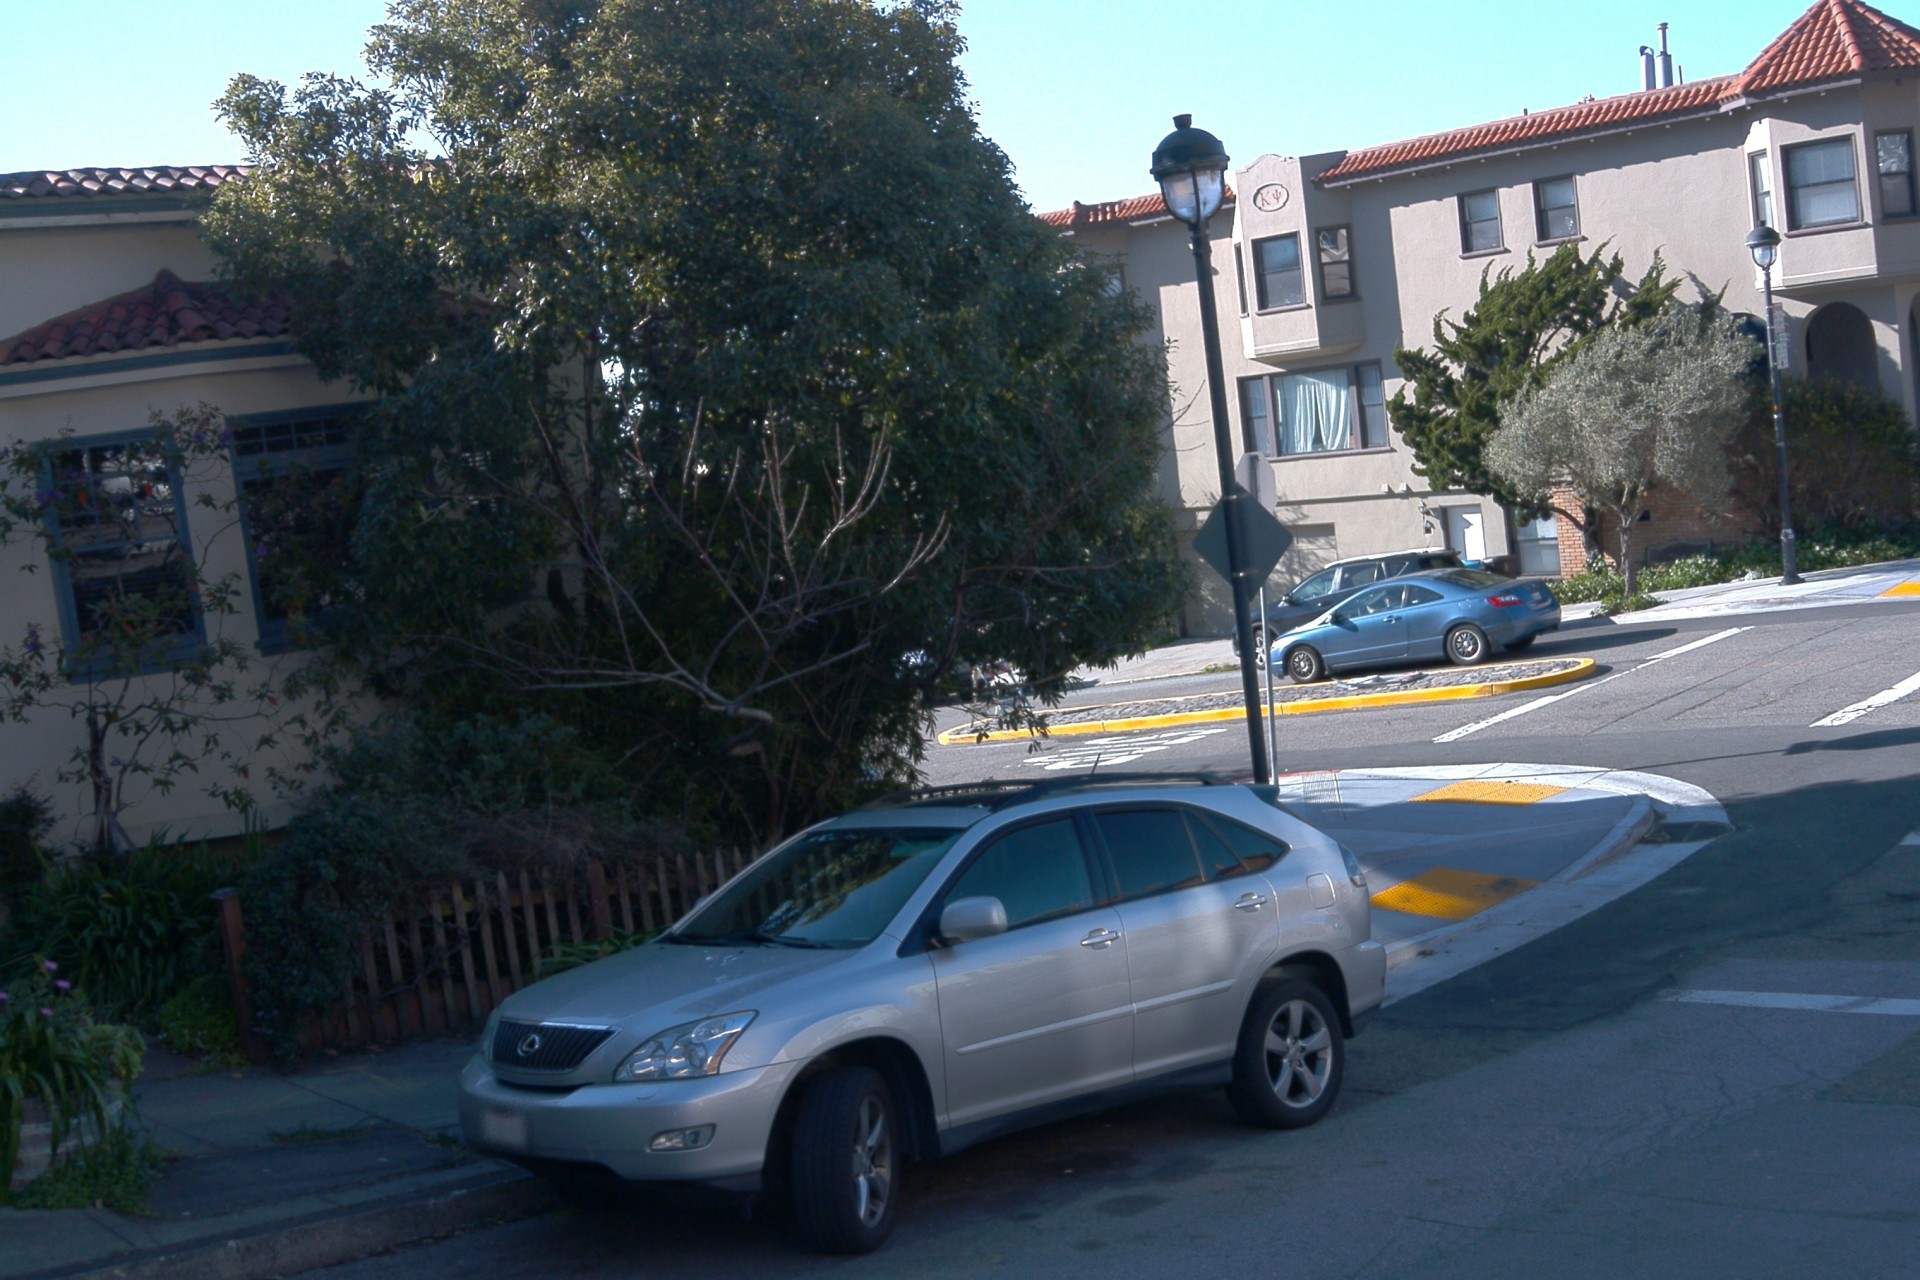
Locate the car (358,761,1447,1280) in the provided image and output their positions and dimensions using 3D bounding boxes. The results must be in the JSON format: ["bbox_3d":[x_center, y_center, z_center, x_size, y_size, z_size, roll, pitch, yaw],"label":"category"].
[{"bbox_3d":[-0.048,1.602,9.345,4.666,1.810,2.097,-1,0,-43],"label":"car"}]

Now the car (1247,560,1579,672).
[{"bbox_3d":[6.615,-0.327,30.487,4.381,1.530,1.831,0,0,38],"label":"car"}]

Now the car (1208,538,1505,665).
[{"bbox_3d":[6.729,-0.617,35.460,4.526,2.020,2.204,0,0,45],"label":"car"}]
